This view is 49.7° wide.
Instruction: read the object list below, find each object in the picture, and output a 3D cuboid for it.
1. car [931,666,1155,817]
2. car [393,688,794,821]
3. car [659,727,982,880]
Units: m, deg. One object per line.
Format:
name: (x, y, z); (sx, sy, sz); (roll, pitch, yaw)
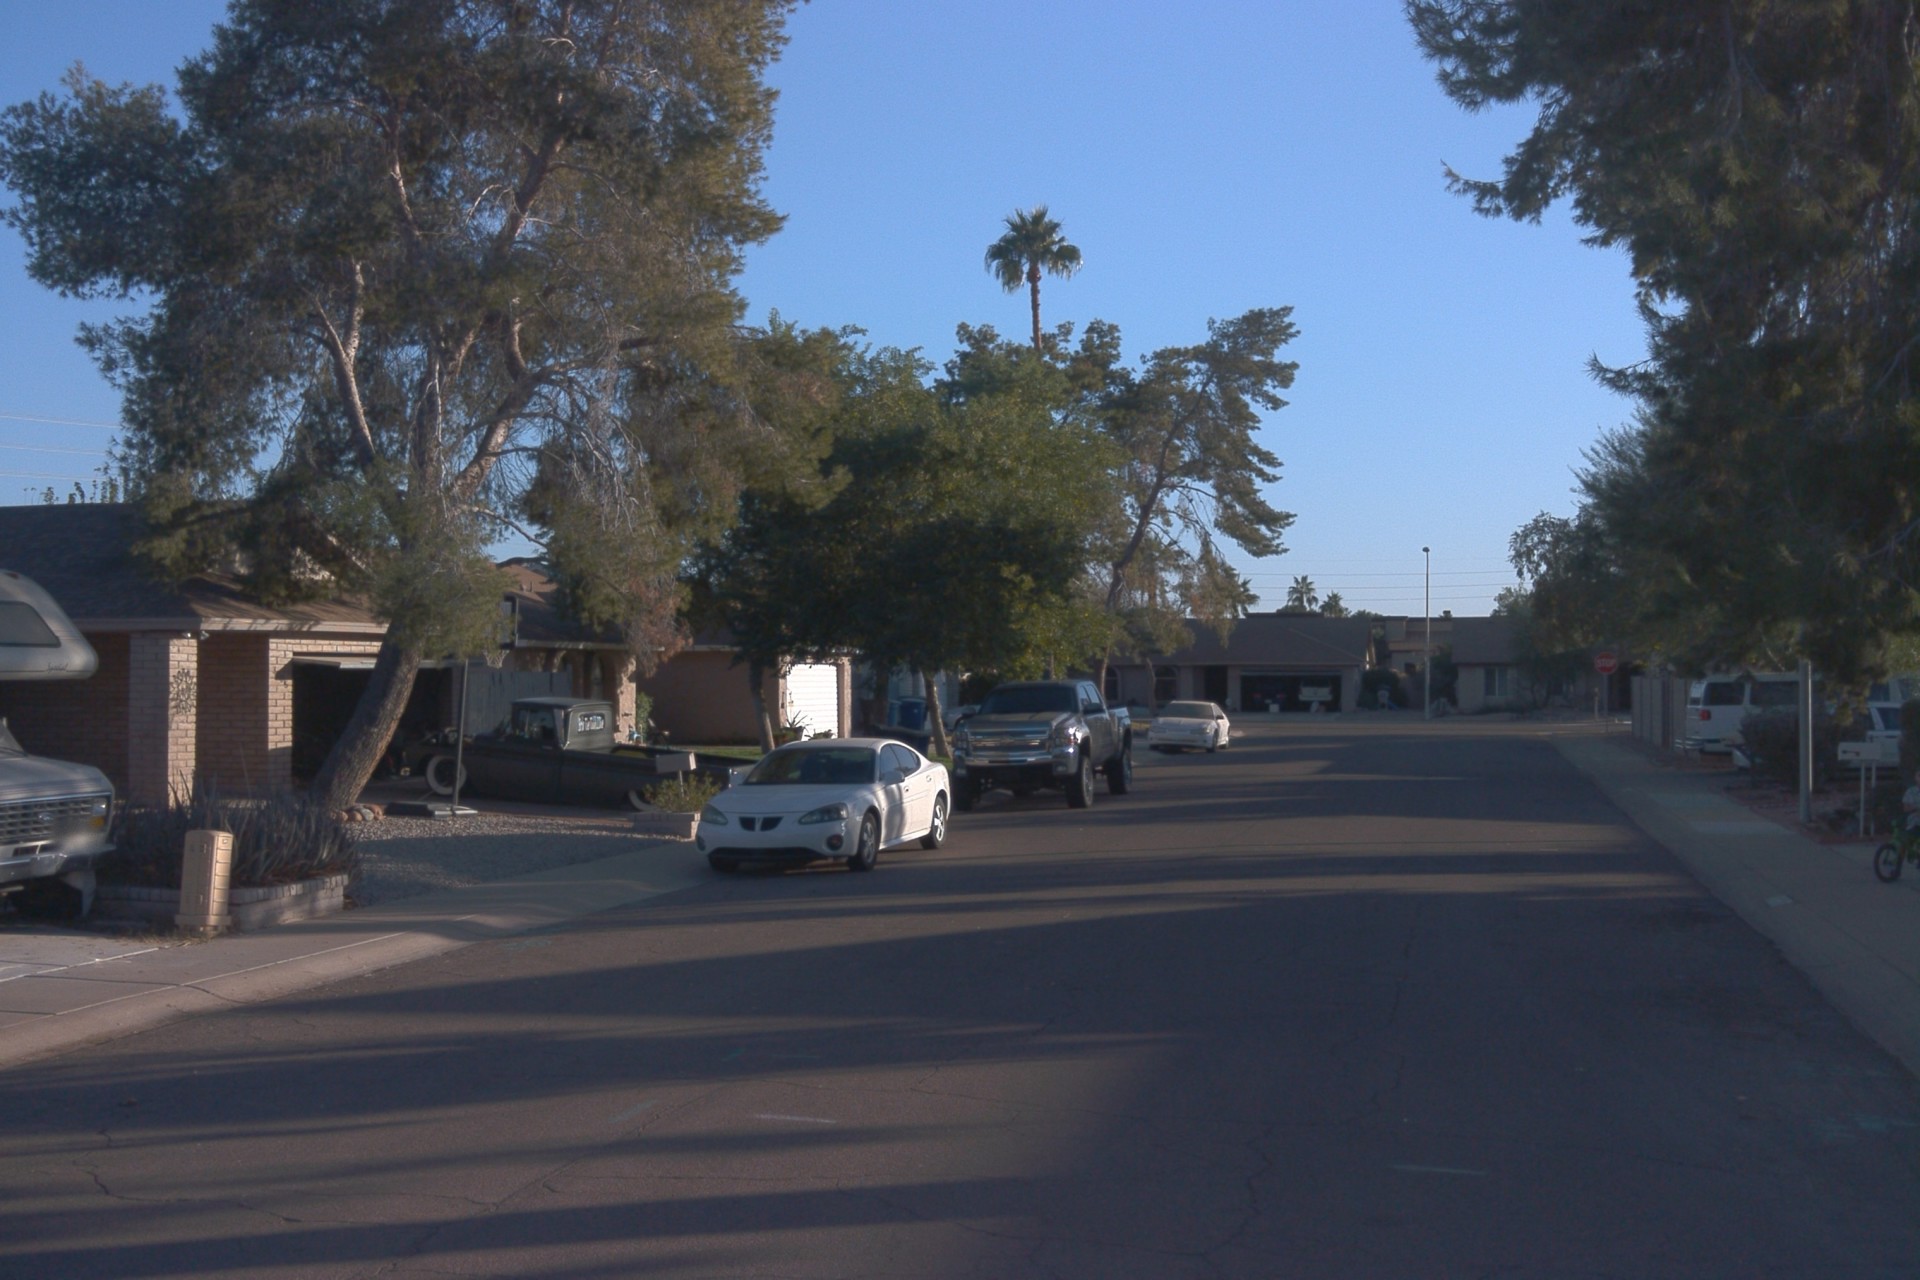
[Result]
car: (1.564, 1.644, 35.534); (2.531, 2.330, 6.154); (0, -1, 15)
car: (-5.468, 1.663, 31.164); (5.463, 1.810, 2.327); (0, -1, 15)
car: (-1.476, 1.828, 24.408); (2.203, 1.460, 5.062); (0, -1, 16)
